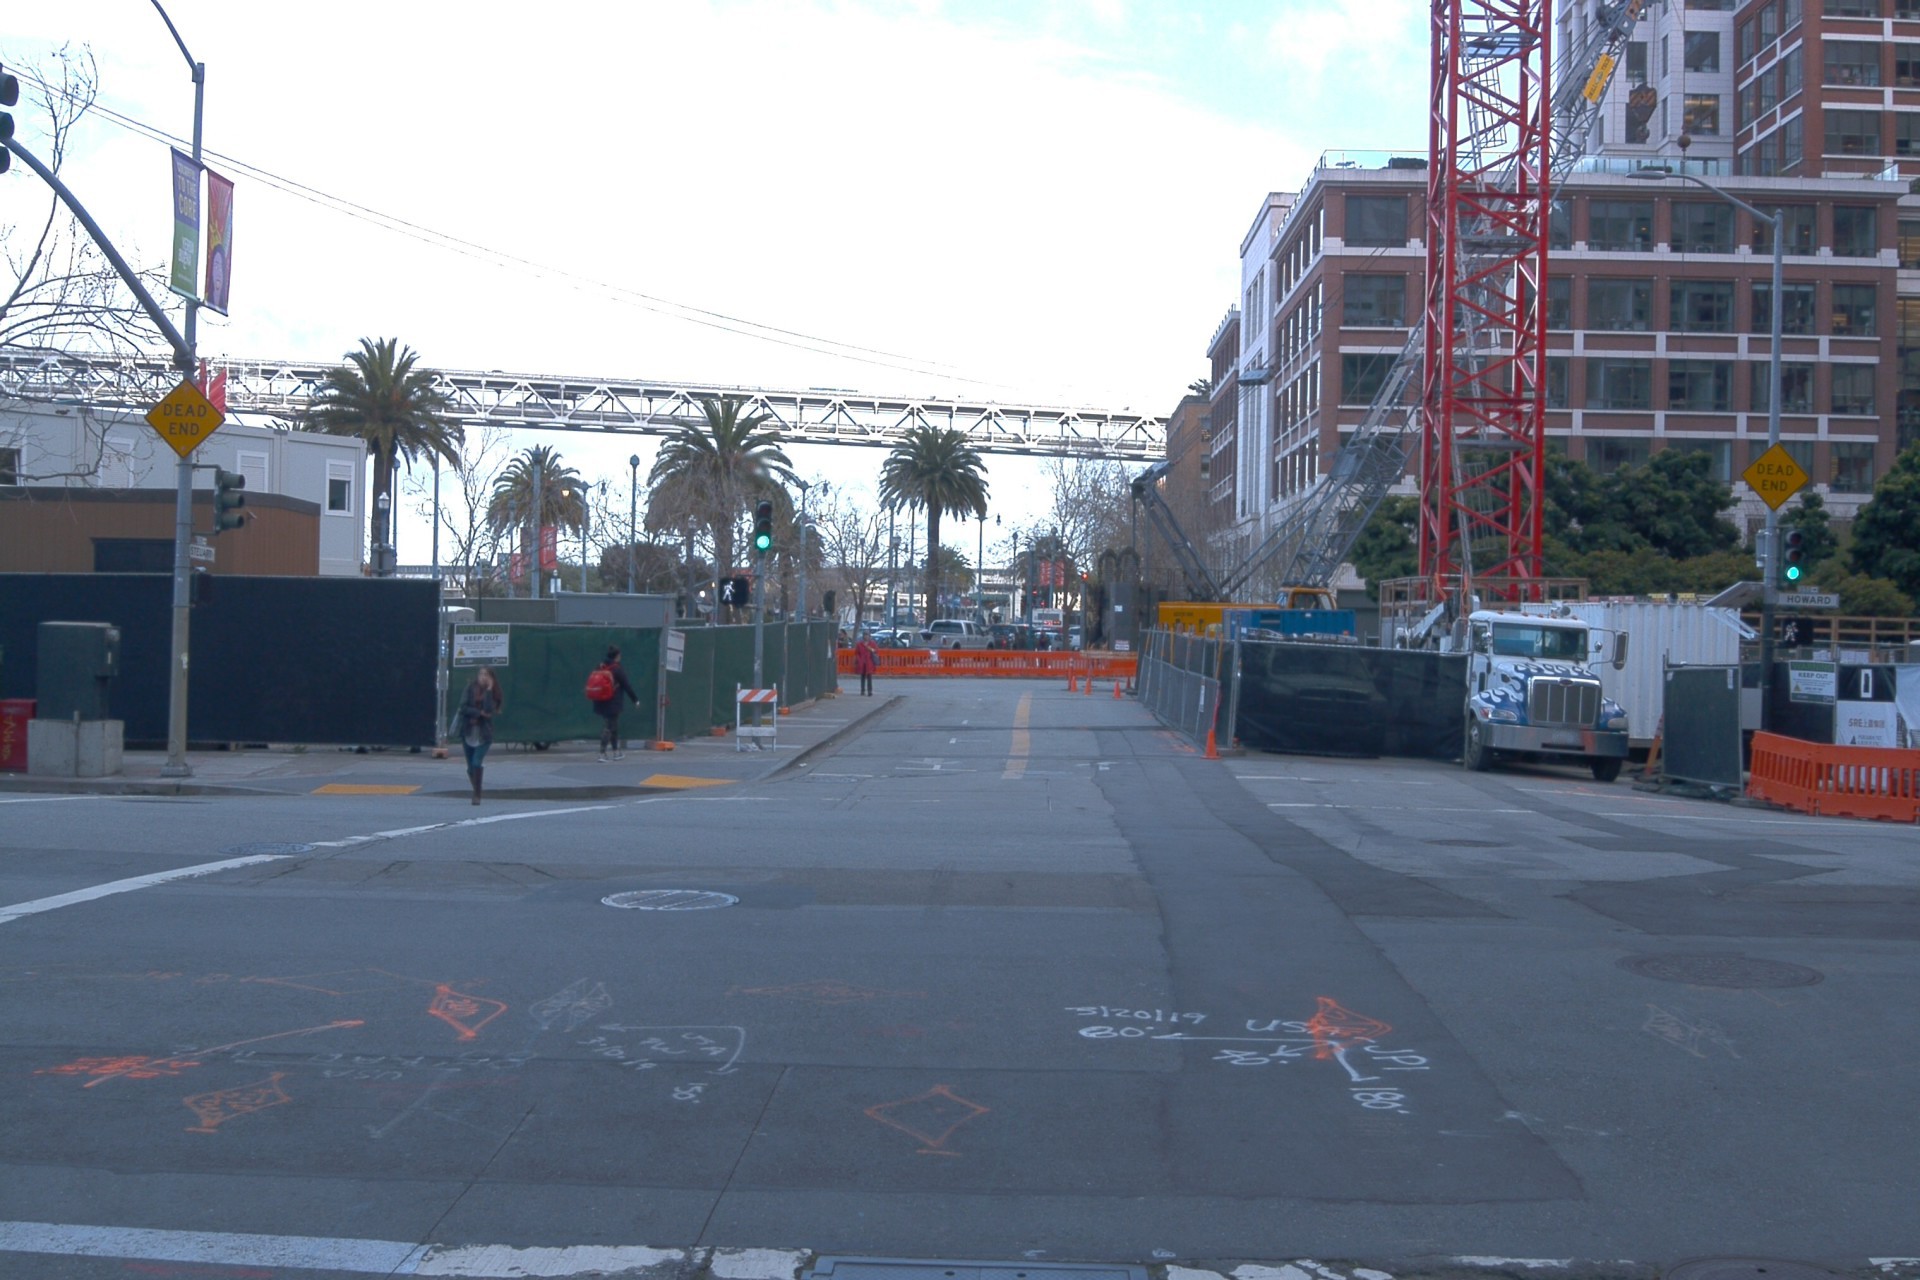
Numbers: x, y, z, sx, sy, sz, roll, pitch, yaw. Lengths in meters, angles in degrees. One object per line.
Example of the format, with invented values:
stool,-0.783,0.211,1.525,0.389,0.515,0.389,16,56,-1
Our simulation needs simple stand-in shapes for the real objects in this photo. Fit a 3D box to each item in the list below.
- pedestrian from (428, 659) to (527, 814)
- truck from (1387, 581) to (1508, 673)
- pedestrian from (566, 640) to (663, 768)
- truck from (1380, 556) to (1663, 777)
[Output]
pedestrian,-5.522,1.086,23.452,0.847,1.720,1.093,1,0,1
truck,8.647,-0.230,36.509,1.127,1.550,4.268,1,0,0
pedestrian,-4.914,0.888,29.124,0.772,1.760,1.195,1,0,30
truck,9.392,0.387,35.080,2.982,3.380,7.061,1,0,1
